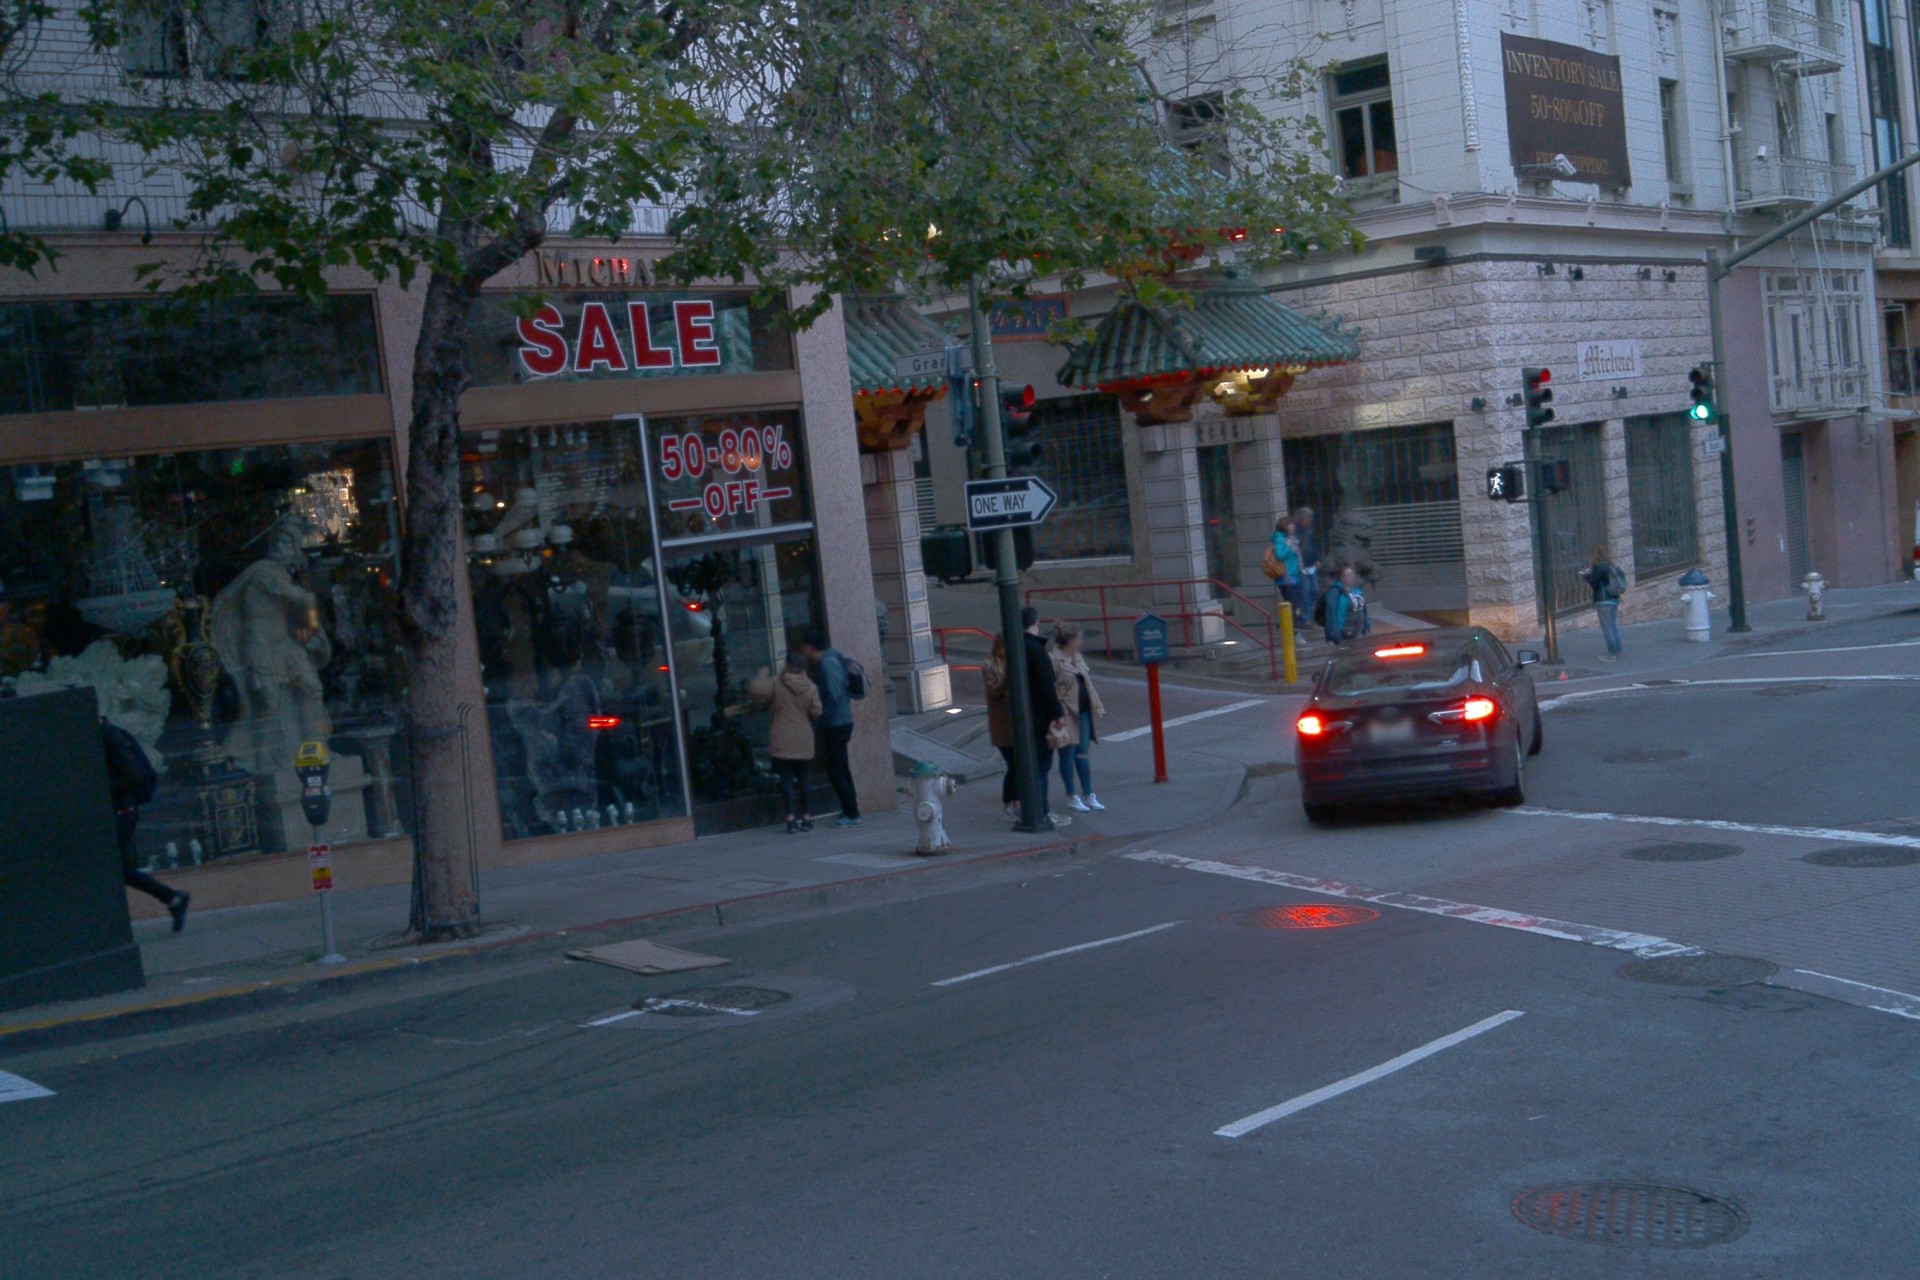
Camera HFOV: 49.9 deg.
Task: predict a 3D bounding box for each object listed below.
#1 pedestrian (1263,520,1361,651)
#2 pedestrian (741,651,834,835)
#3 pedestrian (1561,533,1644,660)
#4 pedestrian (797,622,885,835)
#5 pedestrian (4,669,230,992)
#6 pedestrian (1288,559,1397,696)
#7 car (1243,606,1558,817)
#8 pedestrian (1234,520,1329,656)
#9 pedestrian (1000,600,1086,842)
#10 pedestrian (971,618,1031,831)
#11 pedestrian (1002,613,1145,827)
[{"bbox_3d":[5.002,-0.763,29.307,0.964,1.820,1.000,-1,1,-45],"label":"pedestrian"},{"bbox_3d":[-1.518,0.894,18.278,0.789,1.580,0.743,0,1,-3],"label":"pedestrian"},{"bbox_3d":[8.551,-0.579,27.470,0.818,1.660,0.754,1,1,41],"label":"pedestrian"},{"bbox_3d":[-1.084,0.776,18.644,0.723,1.880,0.717,0,1,-9],"label":"pedestrian"},{"bbox_3d":[-5.285,1.148,12.963,0.723,1.890,1.091,1,1,40],"label":"pedestrian"},{"bbox_3d":[4.889,-0.163,26.383,0.976,1.710,0.984,-1,1,-43],"label":"pedestrian"},{"bbox_3d":[4.104,0.524,18.591,2.146,1.640,4.666,0,1,20],"label":"car"},{"bbox_3d":[4.475,-0.711,28.750,0.927,1.850,0.934,-1,1,-43],"label":"pedestrian"},{"bbox_3d":[0.731,0.692,18.038,0.546,2.070,0.610,0,1,26],"label":"pedestrian"},{"bbox_3d":[0.364,0.745,18.576,0.532,1.880,0.636,0,1,0],"label":"pedestrian"},{"bbox_3d":[1.043,0.693,18.828,0.817,1.880,1.093,0,1,39],"label":"pedestrian"}]
